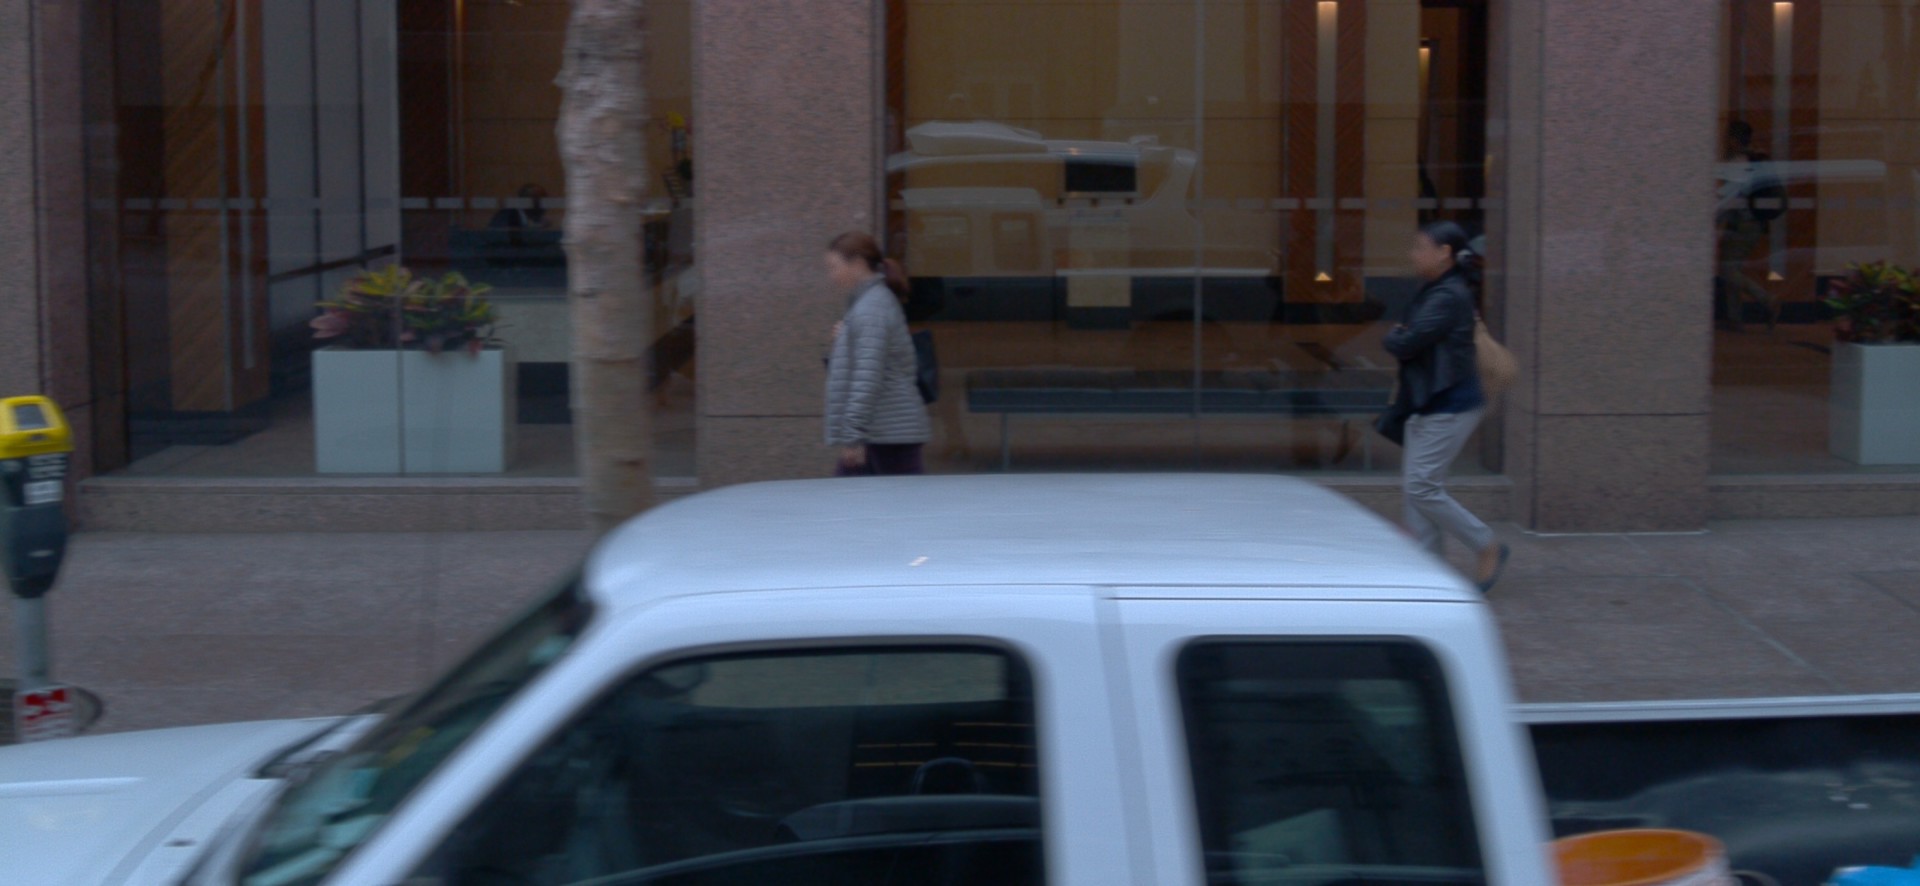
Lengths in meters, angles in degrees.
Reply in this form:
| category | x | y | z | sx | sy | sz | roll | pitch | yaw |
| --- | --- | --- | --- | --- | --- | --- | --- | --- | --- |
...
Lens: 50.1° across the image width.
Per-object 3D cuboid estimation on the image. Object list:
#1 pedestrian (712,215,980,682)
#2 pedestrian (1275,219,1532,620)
| category | x | y | z | sx | sy | sz | roll | pitch | yaw |
| --- | --- | --- | --- | --- | --- | --- | --- | --- | --- |
| pedestrian | -0.413 | -0.026 | 7.944 | 0.955 | 1.699 | 0.915 | 0 | 1 | 2 |
| pedestrian | 1.849 | -0.130 | 8.667 | 0.935 | 1.619 | 0.724 | 0 | 1 | 1 |
